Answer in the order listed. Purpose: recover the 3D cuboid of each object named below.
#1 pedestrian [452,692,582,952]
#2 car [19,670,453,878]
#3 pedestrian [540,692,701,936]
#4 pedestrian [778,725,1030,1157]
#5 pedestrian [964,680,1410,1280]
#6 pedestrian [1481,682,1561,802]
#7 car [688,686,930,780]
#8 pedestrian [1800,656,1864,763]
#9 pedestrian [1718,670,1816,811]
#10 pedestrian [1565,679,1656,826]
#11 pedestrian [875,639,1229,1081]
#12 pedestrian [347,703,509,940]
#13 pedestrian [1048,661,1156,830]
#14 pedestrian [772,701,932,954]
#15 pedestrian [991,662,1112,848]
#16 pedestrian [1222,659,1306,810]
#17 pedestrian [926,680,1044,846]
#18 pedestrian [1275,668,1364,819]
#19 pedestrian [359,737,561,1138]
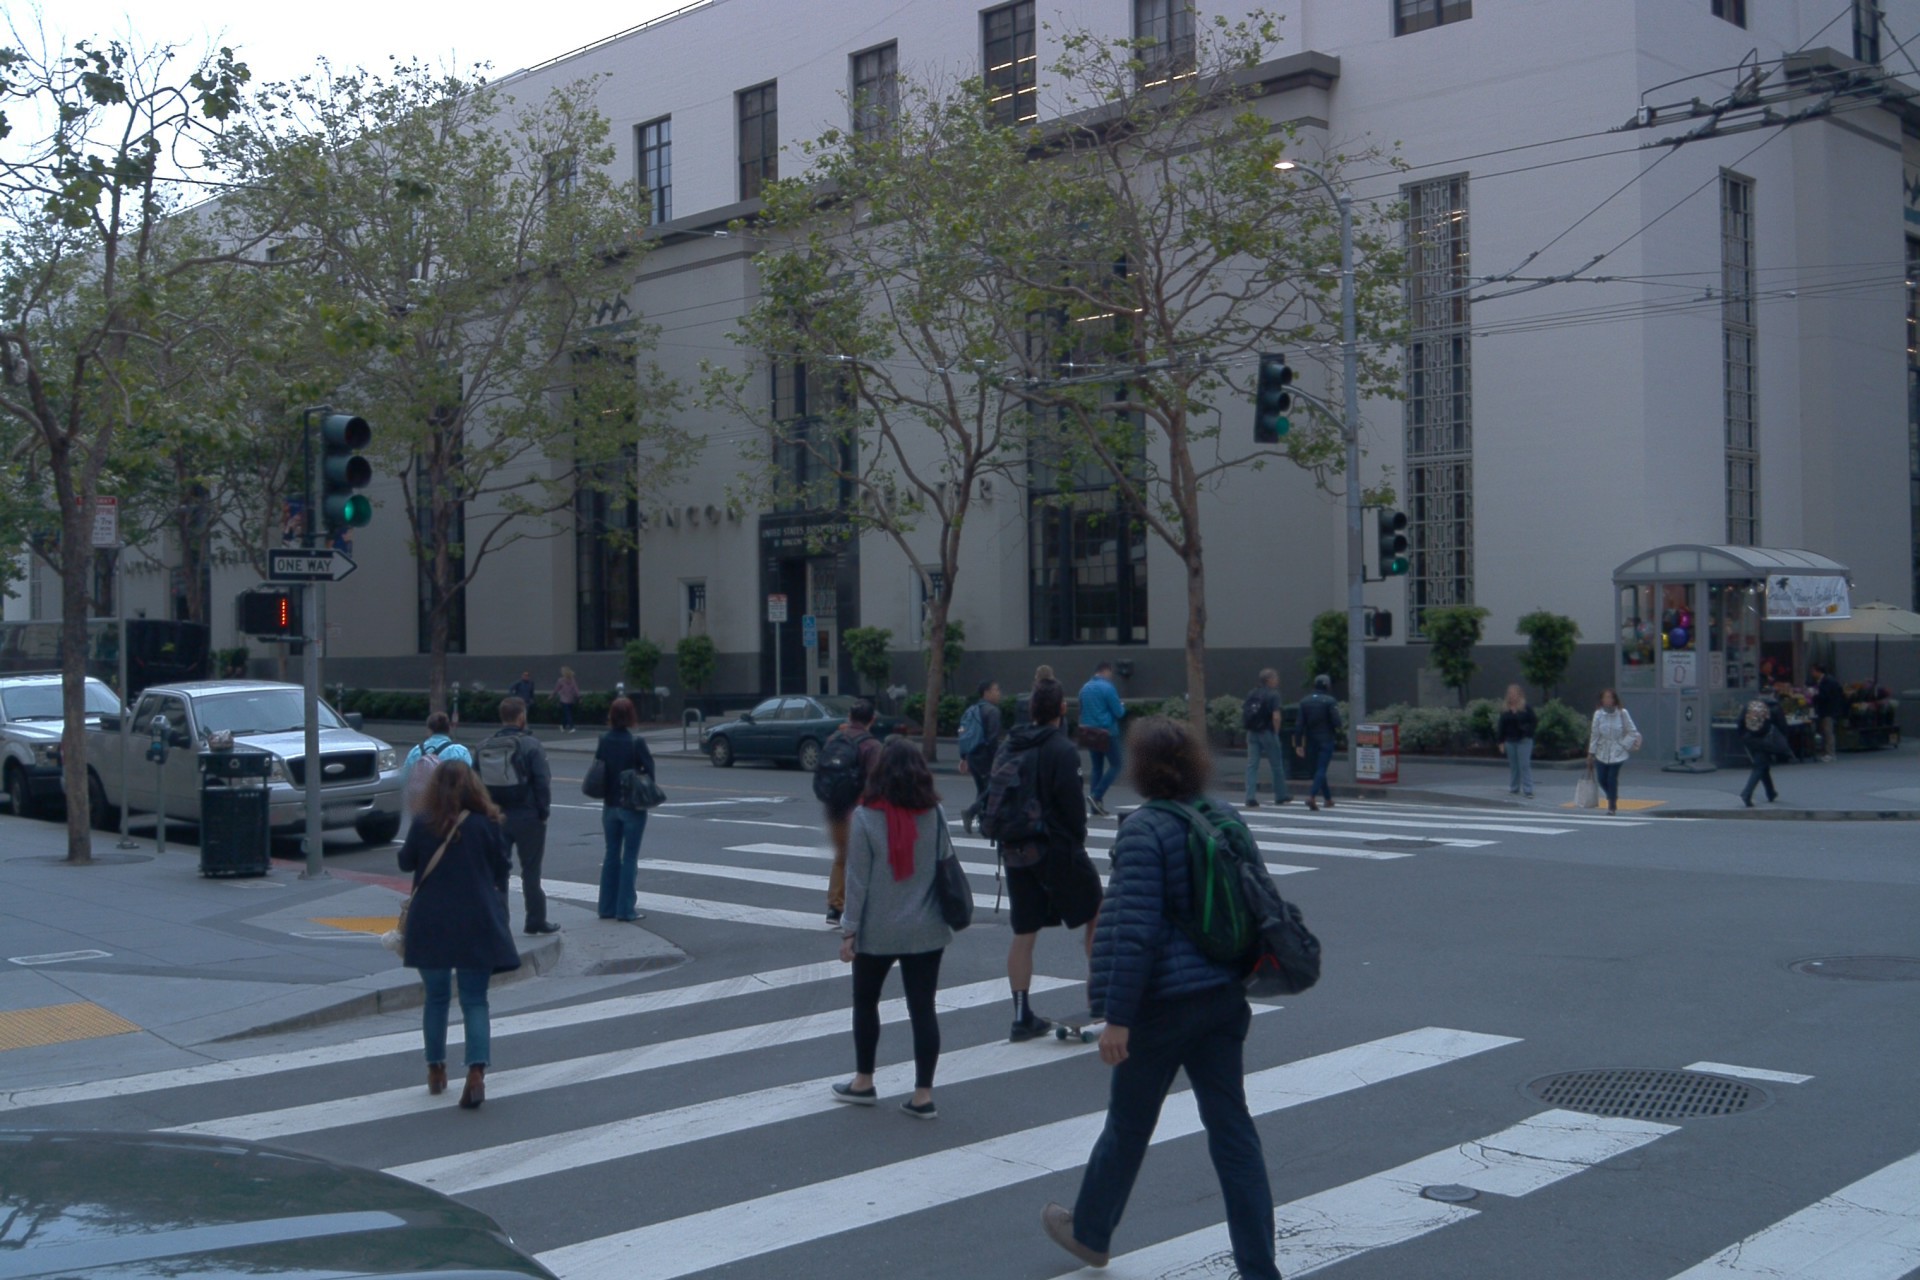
[{"bbox_3d":[-3.240,1.304,15.184,0.852,1.809,0.939,0,1,-7],"label":"pedestrian"},{"bbox_3d":[-8.546,1.403,23.965,2.501,1.940,6.007,-1,1,-44],"label":"car"},{"bbox_3d":[-2.751,1.375,16.743,0.828,1.856,0.973,1,1,40],"label":"pedestrian"},{"bbox_3d":[-0.269,1.287,9.268,0.799,1.739,1.039,0,1,-23],"label":"pedestrian"},{"bbox_3d":[0.690,1.135,6.497,0.847,1.969,1.161,-1,1,-34],"label":"pedestrian"},{"bbox_3d":[8.002,1.439,29.430,0.894,1.646,0.735,-1,1,-43],"label":"pedestrian"},{"bbox_3d":[-2.906,1.693,38.810,2.016,1.480,4.678,-1,1,-44],"label":"car"},{"bbox_3d":[14.664,1.160,34.692,0.751,1.746,0.848,1,1,42],"label":"pedestrian"},{"bbox_3d":[10.538,1.290,26.935,0.963,1.766,0.842,-1,1,-42],"label":"pedestrian"},{"bbox_3d":[8.338,1.416,26.443,0.807,1.800,0.940,1,1,40],"label":"pedestrian"},{"bbox_3d":[0.499,1.064,10.904,1.544,2.118,1.097,-1,1,-44],"label":"pedestrian"},{"bbox_3d":[-4.221,1.410,16.434,0.830,1.767,1.012,0,1,17],"label":"pedestrian"},{"bbox_3d":[1.658,1.204,24.084,0.984,1.896,0.798,-1,1,-42],"label":"pedestrian"},{"bbox_3d":[-0.806,1.370,15.451,0.716,1.771,0.964,1,1,43],"label":"pedestrian"},{"bbox_3d":[0.982,1.200,22.024,1.051,1.896,0.762,-1,1,-40],"label":"pedestrian"},{"bbox_3d":[3.870,1.178,26.229,0.678,1.856,0.980,0,1,36],"label":"pedestrian"},{"bbox_3d":[0.271,1.308,22.368,0.974,1.706,0.840,-1,1,-41],"label":"pedestrian"},{"bbox_3d":[4.472,1.265,25.631,0.753,1.796,0.988,0,1,33],"label":"pedestrian"},{"bbox_3d":[-2.402,1.366,9.853,0.885,1.741,0.888,0,1,-17],"label":"pedestrian"}]
